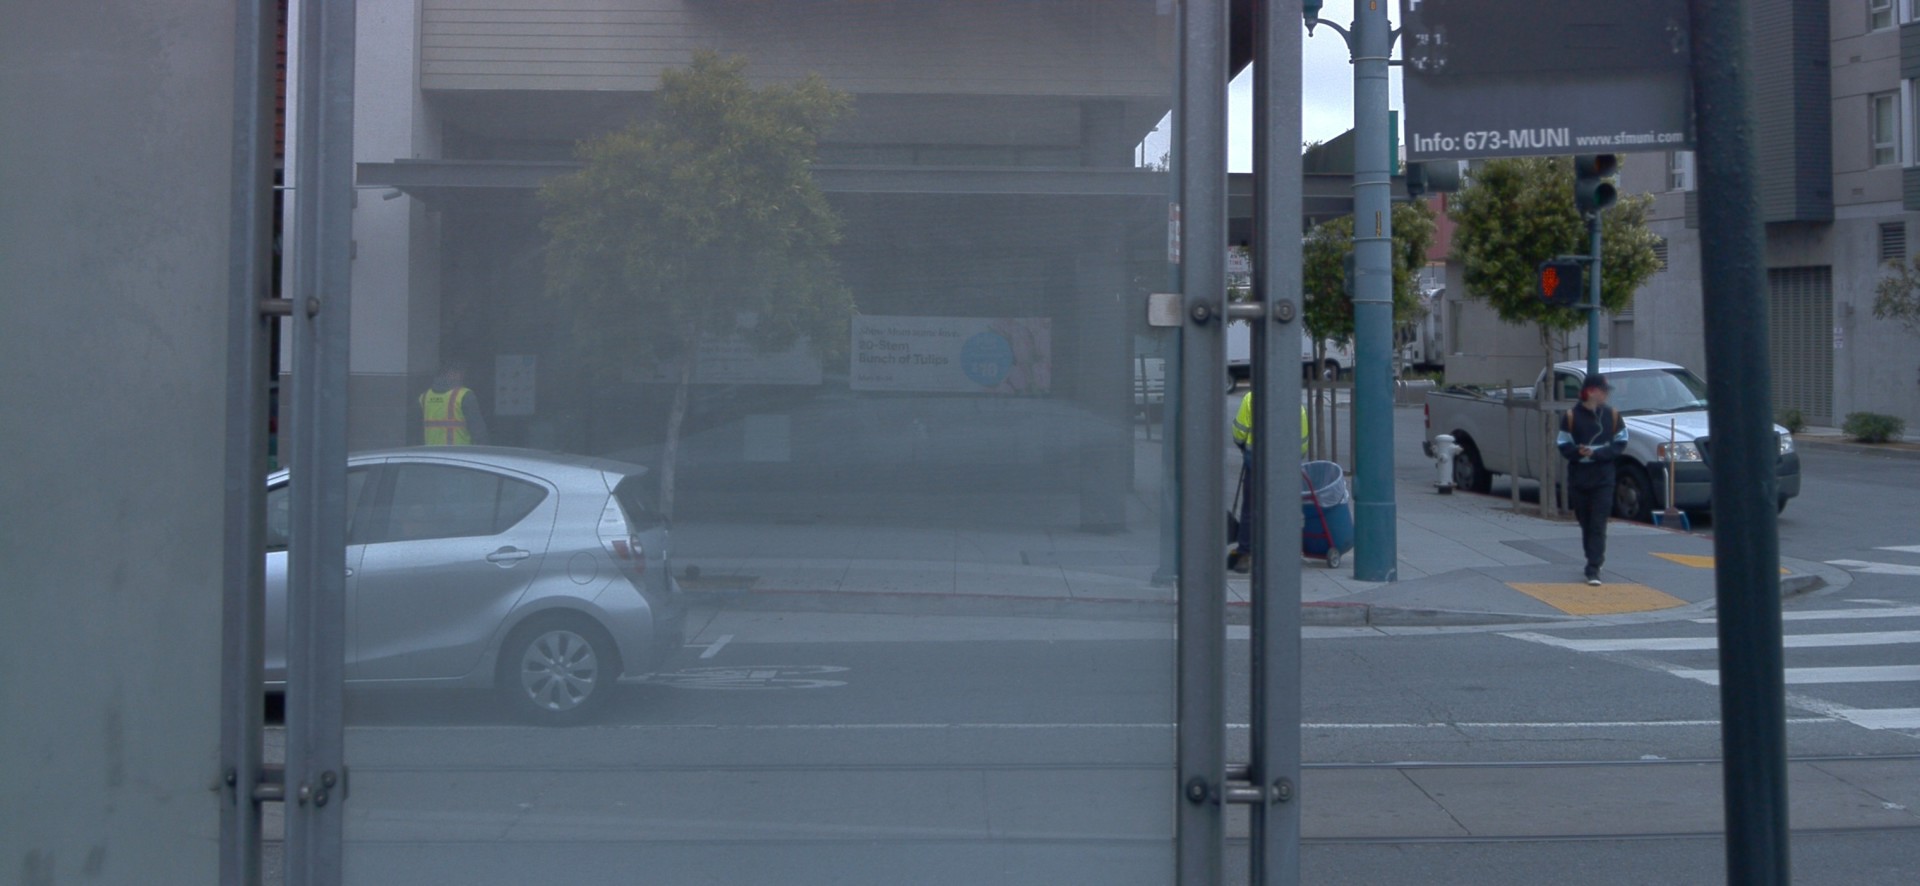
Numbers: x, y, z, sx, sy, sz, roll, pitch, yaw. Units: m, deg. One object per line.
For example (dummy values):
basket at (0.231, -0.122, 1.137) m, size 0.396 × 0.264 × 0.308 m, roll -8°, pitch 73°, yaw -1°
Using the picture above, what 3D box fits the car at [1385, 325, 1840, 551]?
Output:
car at (7.754, -0.238, 25.398) m, size 2.345 × 2.039 × 6.086 m, roll -2°, pitch 6°, yaw -17°

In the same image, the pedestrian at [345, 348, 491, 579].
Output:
pedestrian at (-4.727, 0.146, 18.008) m, size 0.855 × 1.877 × 0.863 m, roll 1°, pitch 2°, yaw 26°

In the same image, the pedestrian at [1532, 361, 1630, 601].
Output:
pedestrian at (5.183, 0.290, 17.191) m, size 0.717 × 1.868 × 0.830 m, roll 0°, pitch 2°, yaw 22°

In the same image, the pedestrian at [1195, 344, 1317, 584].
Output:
pedestrian at (2.439, 0.150, 16.936) m, size 0.959 × 1.867 × 0.733 m, roll 0°, pitch 2°, yaw 10°
